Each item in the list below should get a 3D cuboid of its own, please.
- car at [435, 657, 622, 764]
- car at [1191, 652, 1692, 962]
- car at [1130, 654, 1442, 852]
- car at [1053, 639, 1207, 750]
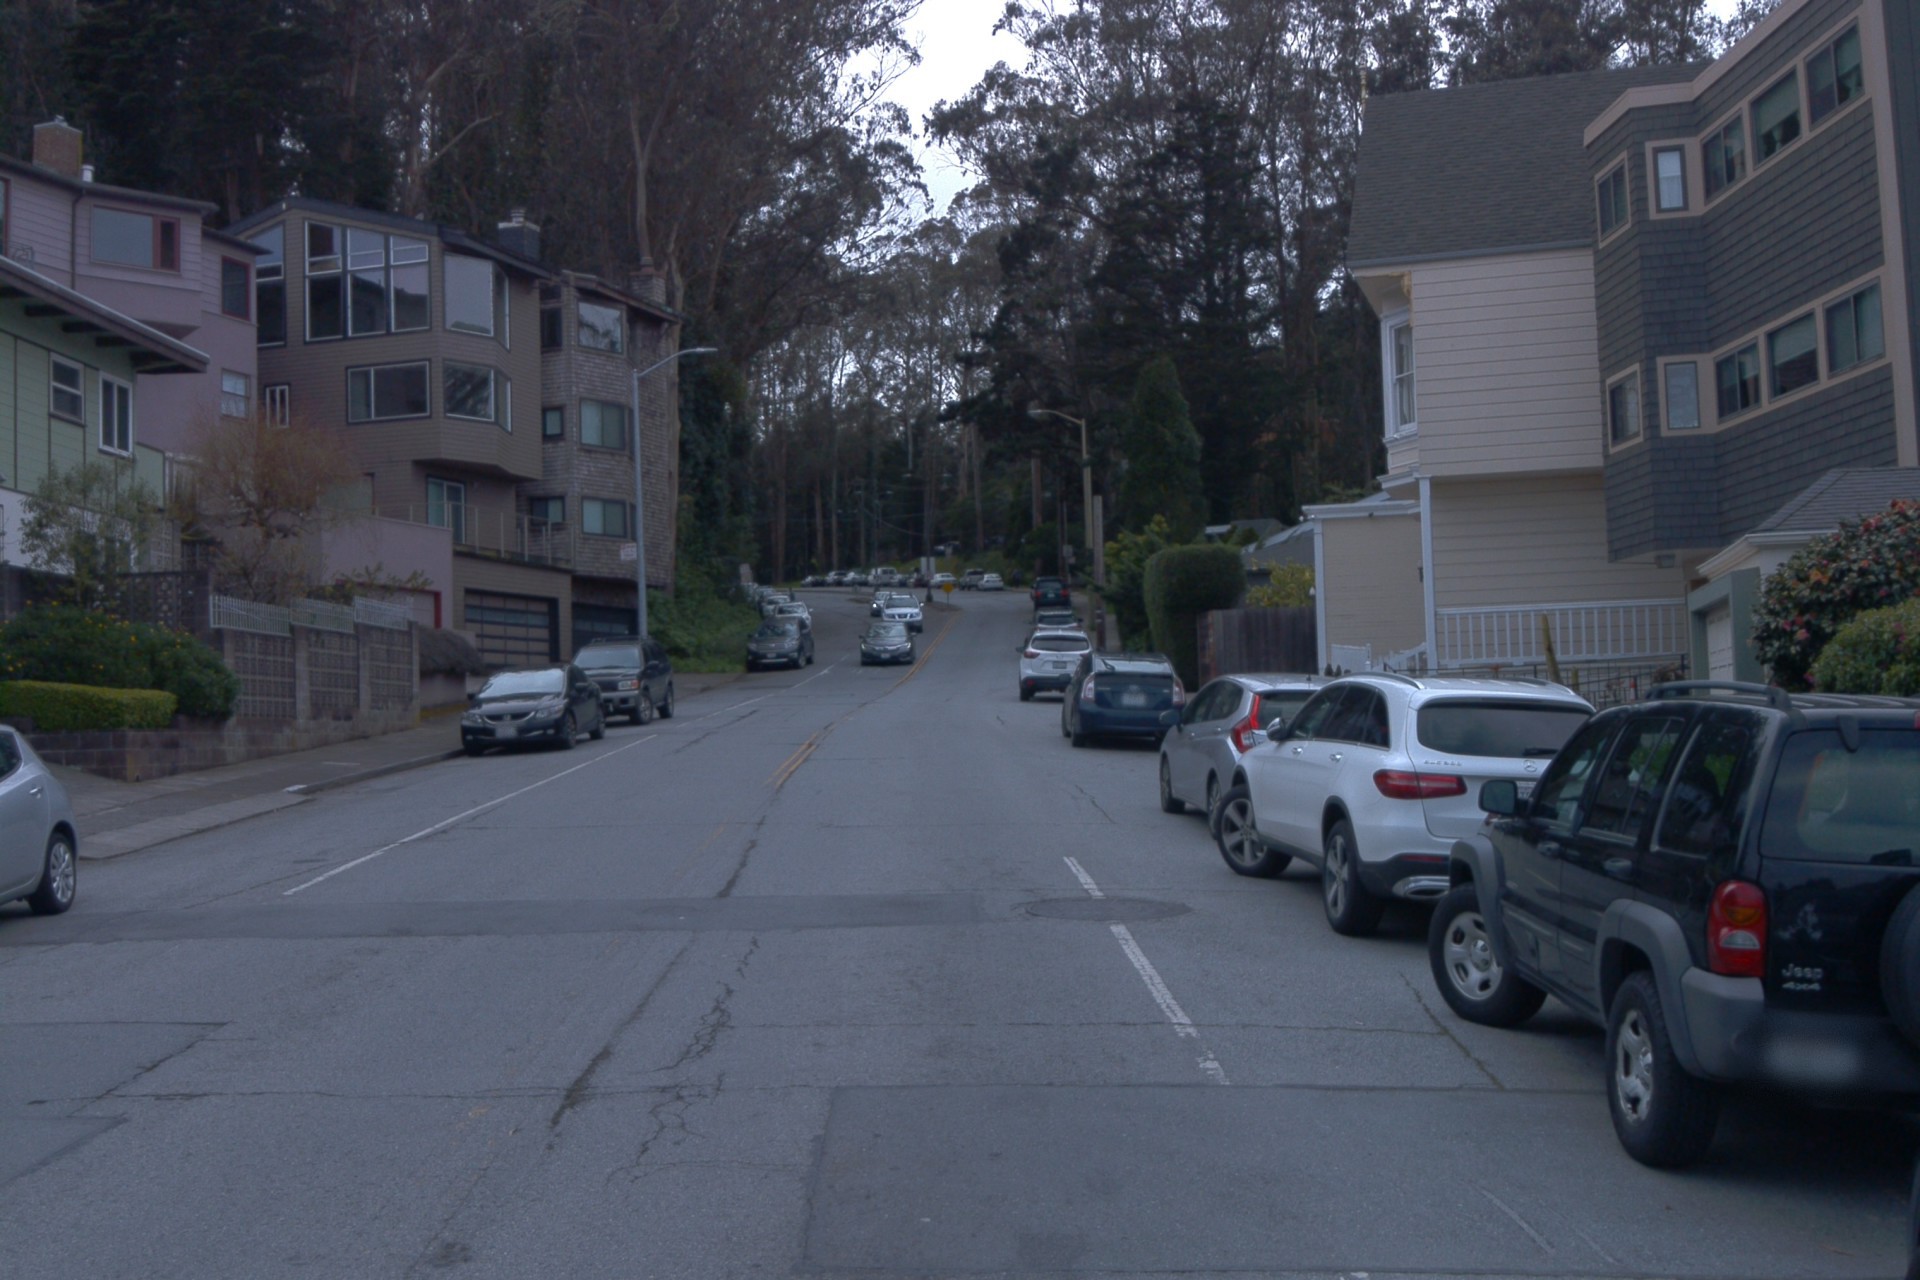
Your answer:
[{"bbox_3d":[-7.157,1.122,34.581,2.205,1.570,4.632,0,1,0],"label":"car"},{"bbox_3d":[3.145,1.001,14.648,2.090,1.740,4.851,0,1,-4],"label":"car"},{"bbox_3d":[3.019,0.995,20.013,2.037,1.630,4.248,0,1,-5],"label":"car"},{"bbox_3d":[2.617,0.806,32.641,2.027,1.580,4.537,0,1,0],"label":"car"}]
